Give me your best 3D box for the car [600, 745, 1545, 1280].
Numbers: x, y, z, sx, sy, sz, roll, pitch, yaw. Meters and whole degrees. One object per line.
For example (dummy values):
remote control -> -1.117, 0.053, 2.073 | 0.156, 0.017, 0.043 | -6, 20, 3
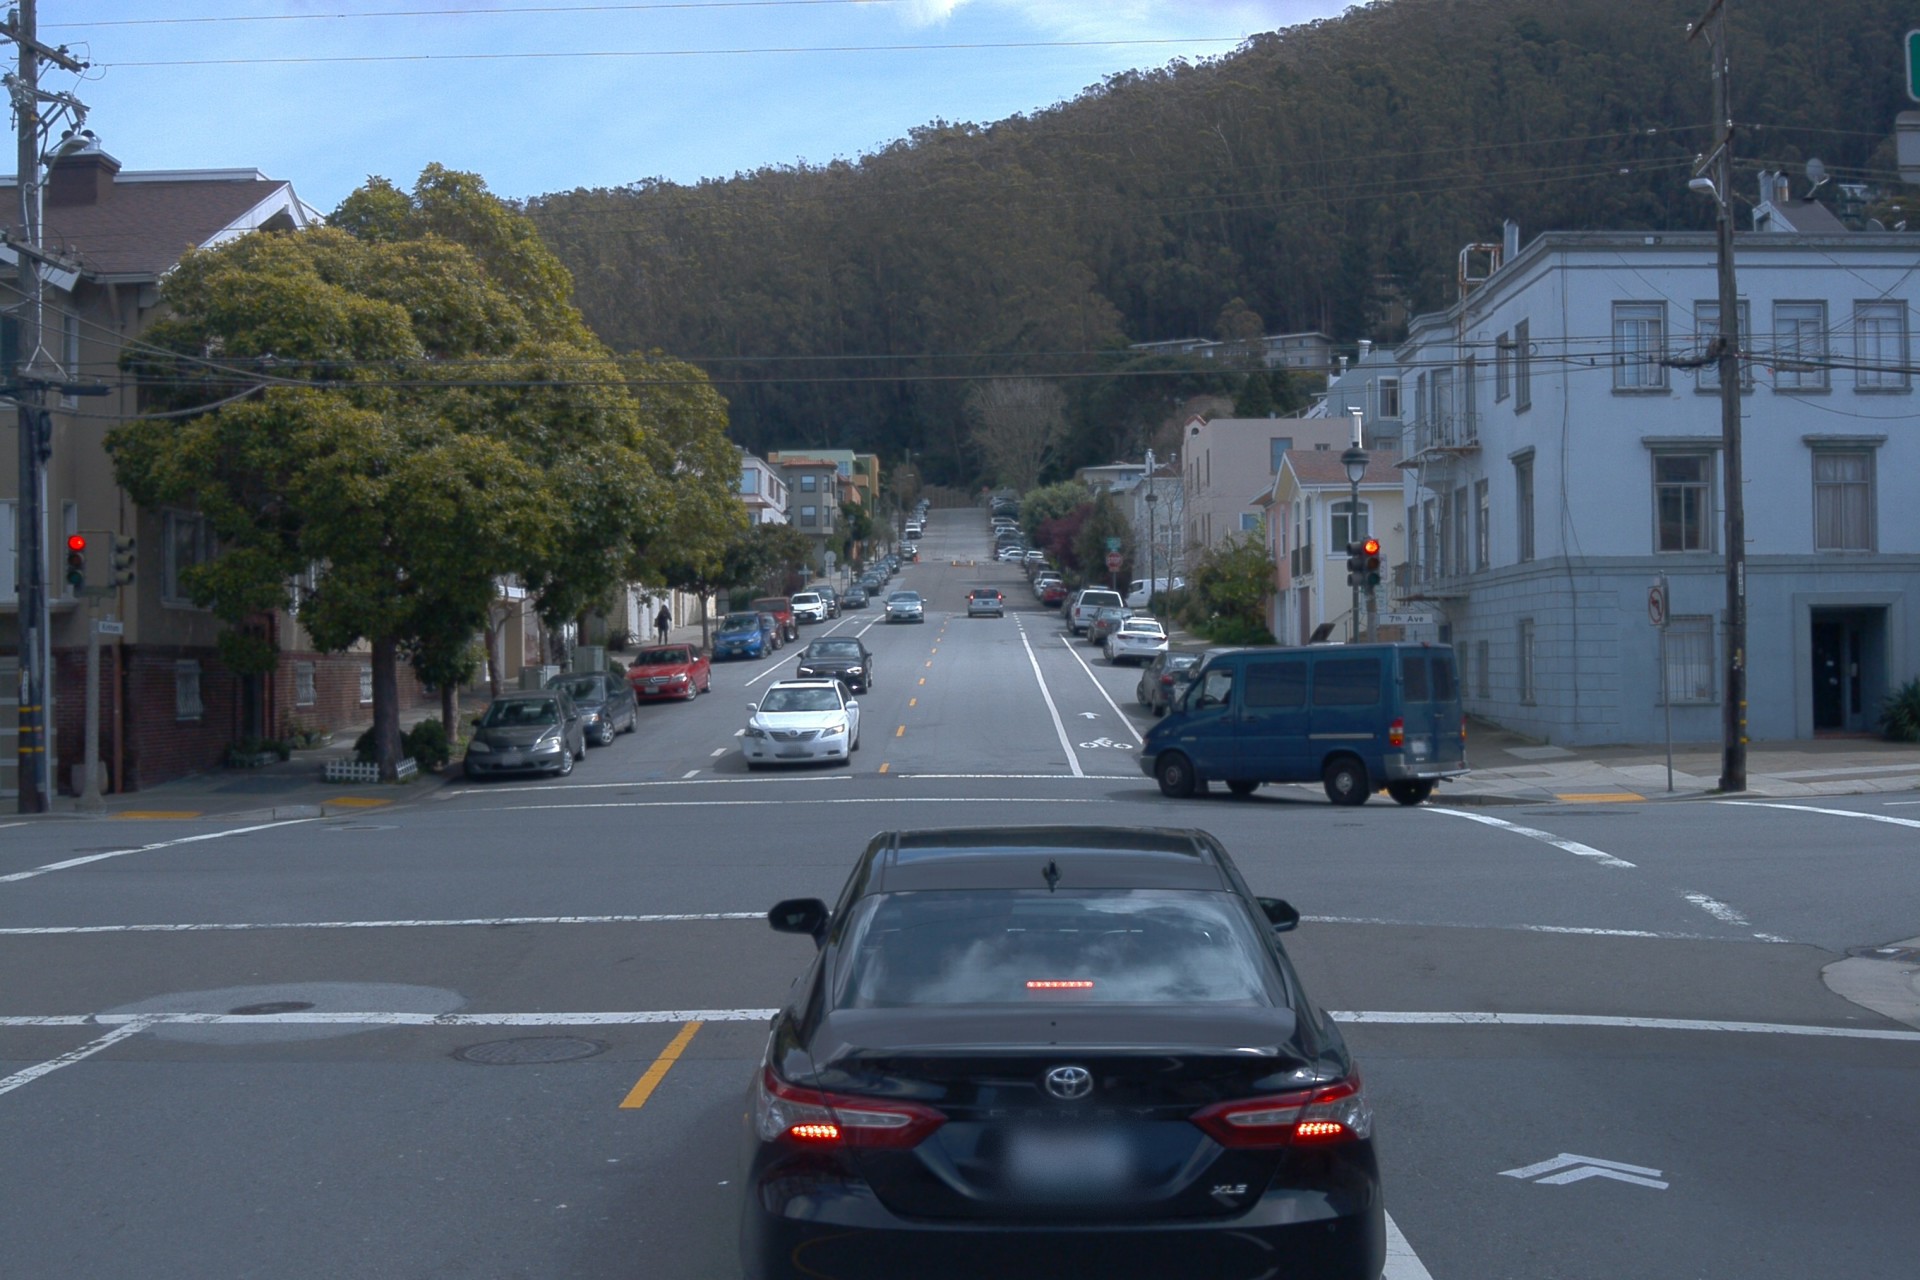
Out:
car -> 0.282, 1.306, 7.305 | 2.249, 1.620, 4.798 | 0, 0, 0

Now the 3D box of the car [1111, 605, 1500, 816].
car -> 5.039, 0.949, 30.499 | 5.089, 2.850, 2.620 | 0, 0, 43

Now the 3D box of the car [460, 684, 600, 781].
car -> -7.707, 1.623, 37.253 | 1.836, 1.560, 4.133 | 0, 0, -3

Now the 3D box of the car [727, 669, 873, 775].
car -> -2.840, 1.444, 37.676 | 2.209, 1.750, 4.541 | 0, 0, 1
